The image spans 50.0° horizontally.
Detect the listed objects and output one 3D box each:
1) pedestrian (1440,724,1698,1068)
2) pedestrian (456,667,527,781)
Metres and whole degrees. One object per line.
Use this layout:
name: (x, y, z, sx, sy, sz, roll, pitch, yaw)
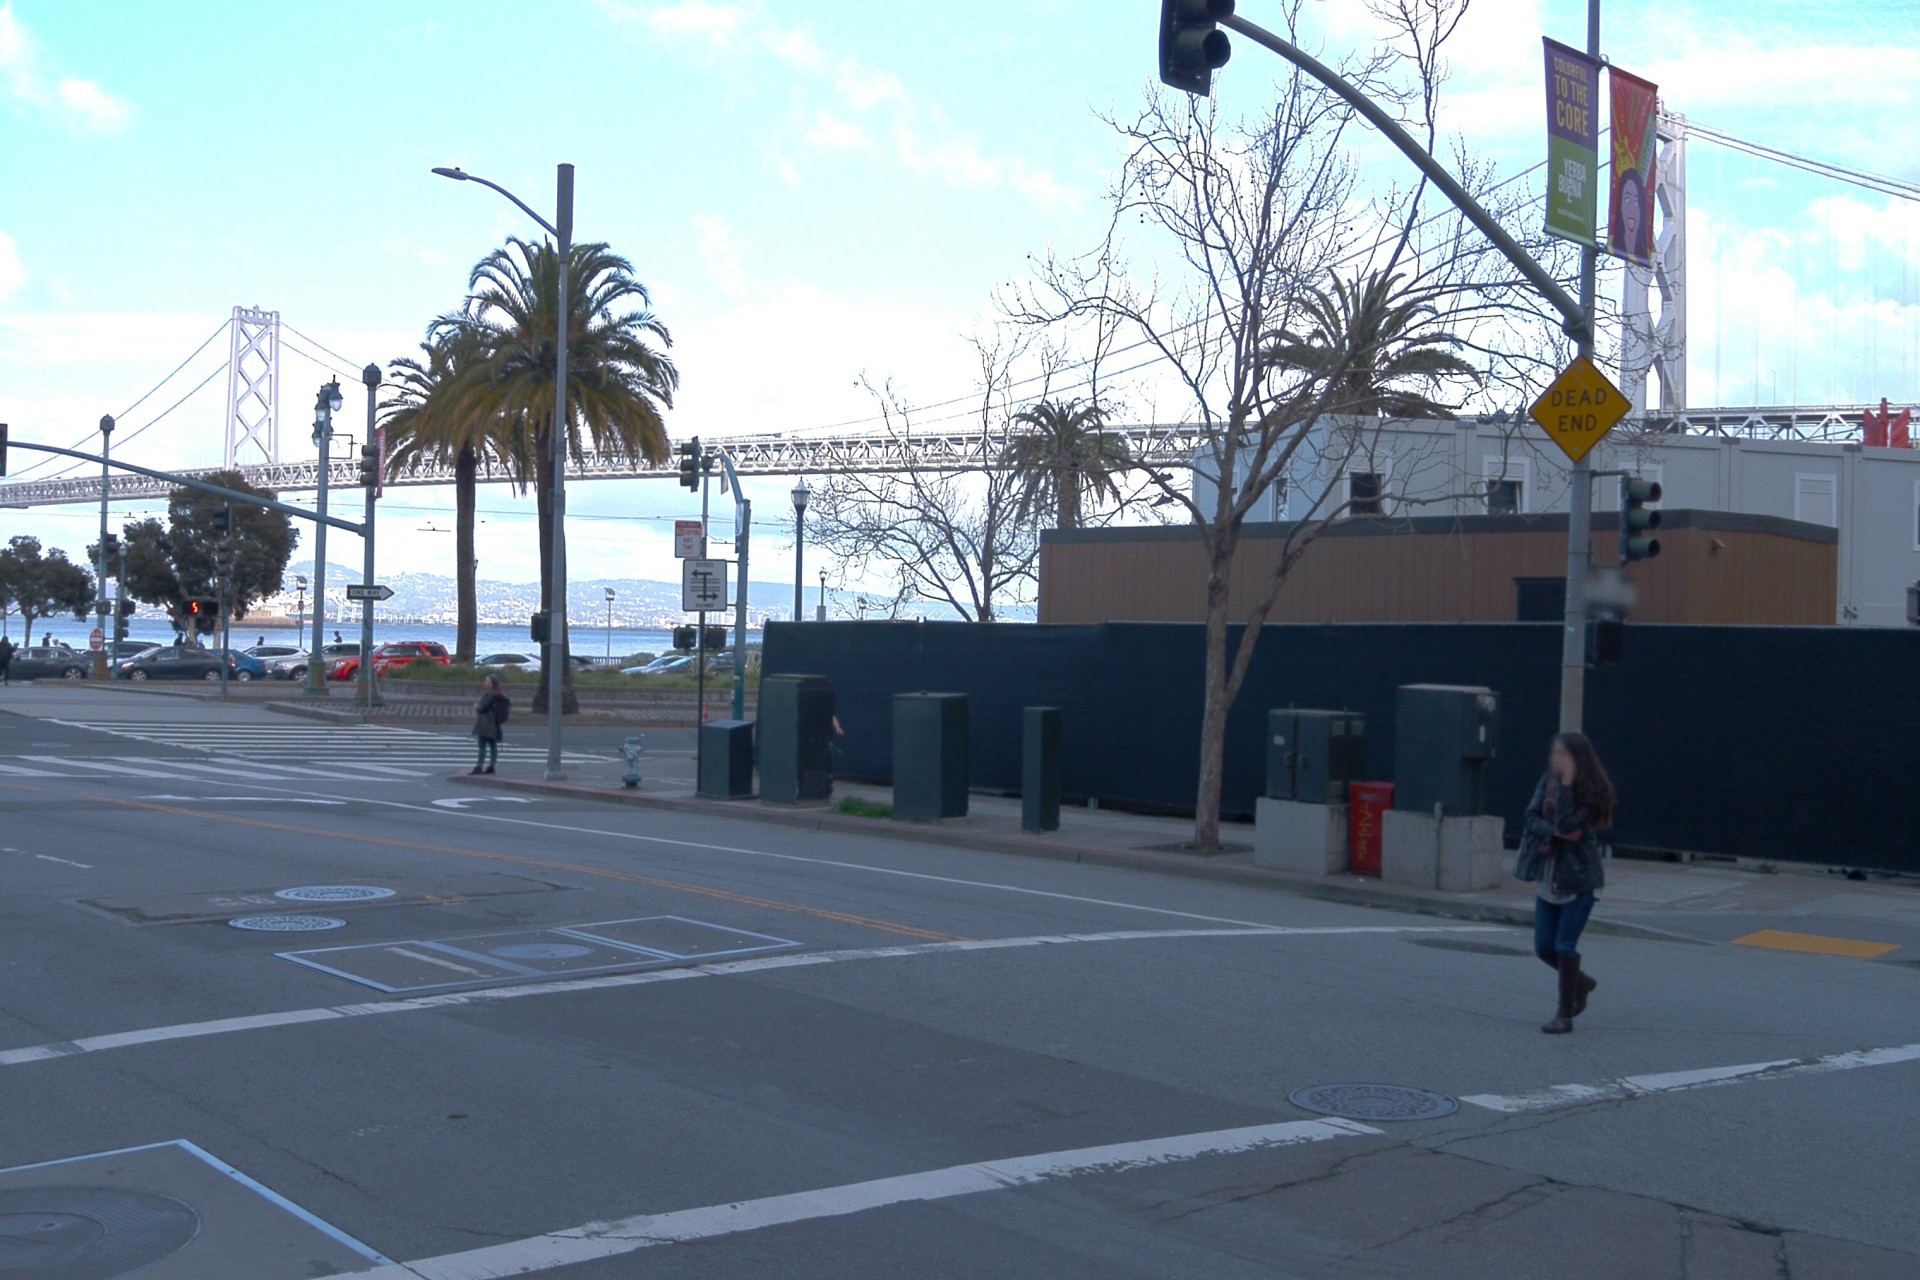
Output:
pedestrian: (3.359, 1.357, 11.350, 1.092, 1.720, 0.848, -1, 1, -34)
pedestrian: (-7.619, 1.351, 33.437, 0.841, 1.790, 0.831, -1, 1, -40)
